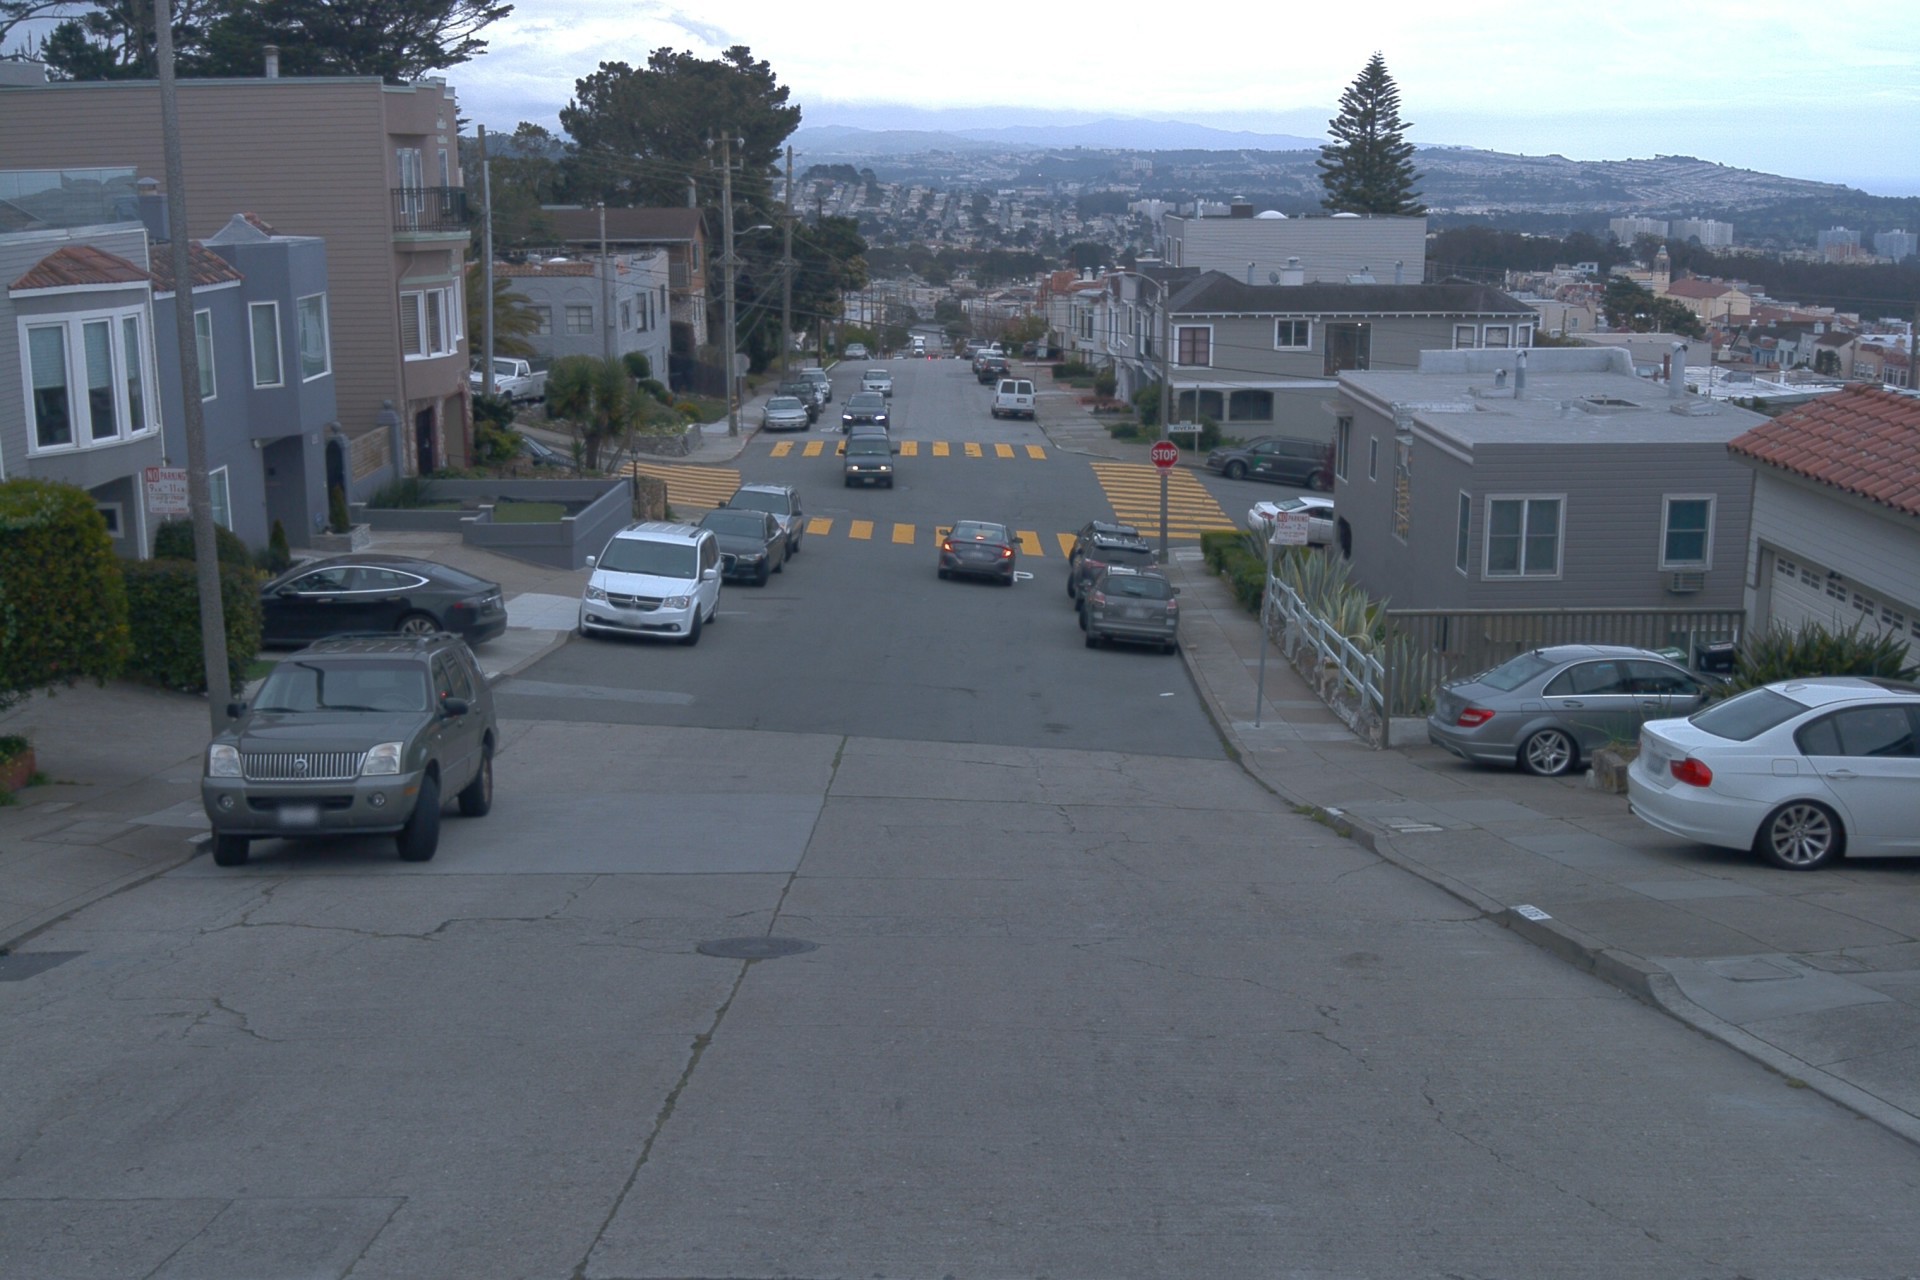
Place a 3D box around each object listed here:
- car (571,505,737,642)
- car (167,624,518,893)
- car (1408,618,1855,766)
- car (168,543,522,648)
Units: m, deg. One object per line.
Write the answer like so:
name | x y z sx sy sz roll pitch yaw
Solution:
car | -5.243 -1.083 35.988 2.251 2.231 4.981 0 0 -1
car | -5.383 0.931 18.671 2.062 2.110 4.859 0 0 -5
car | 7.929 0.591 24.617 4.671 1.690 2.049 0 0 -3
car | -9.310 -0.663 31.481 4.778 1.550 2.024 0 0 0
